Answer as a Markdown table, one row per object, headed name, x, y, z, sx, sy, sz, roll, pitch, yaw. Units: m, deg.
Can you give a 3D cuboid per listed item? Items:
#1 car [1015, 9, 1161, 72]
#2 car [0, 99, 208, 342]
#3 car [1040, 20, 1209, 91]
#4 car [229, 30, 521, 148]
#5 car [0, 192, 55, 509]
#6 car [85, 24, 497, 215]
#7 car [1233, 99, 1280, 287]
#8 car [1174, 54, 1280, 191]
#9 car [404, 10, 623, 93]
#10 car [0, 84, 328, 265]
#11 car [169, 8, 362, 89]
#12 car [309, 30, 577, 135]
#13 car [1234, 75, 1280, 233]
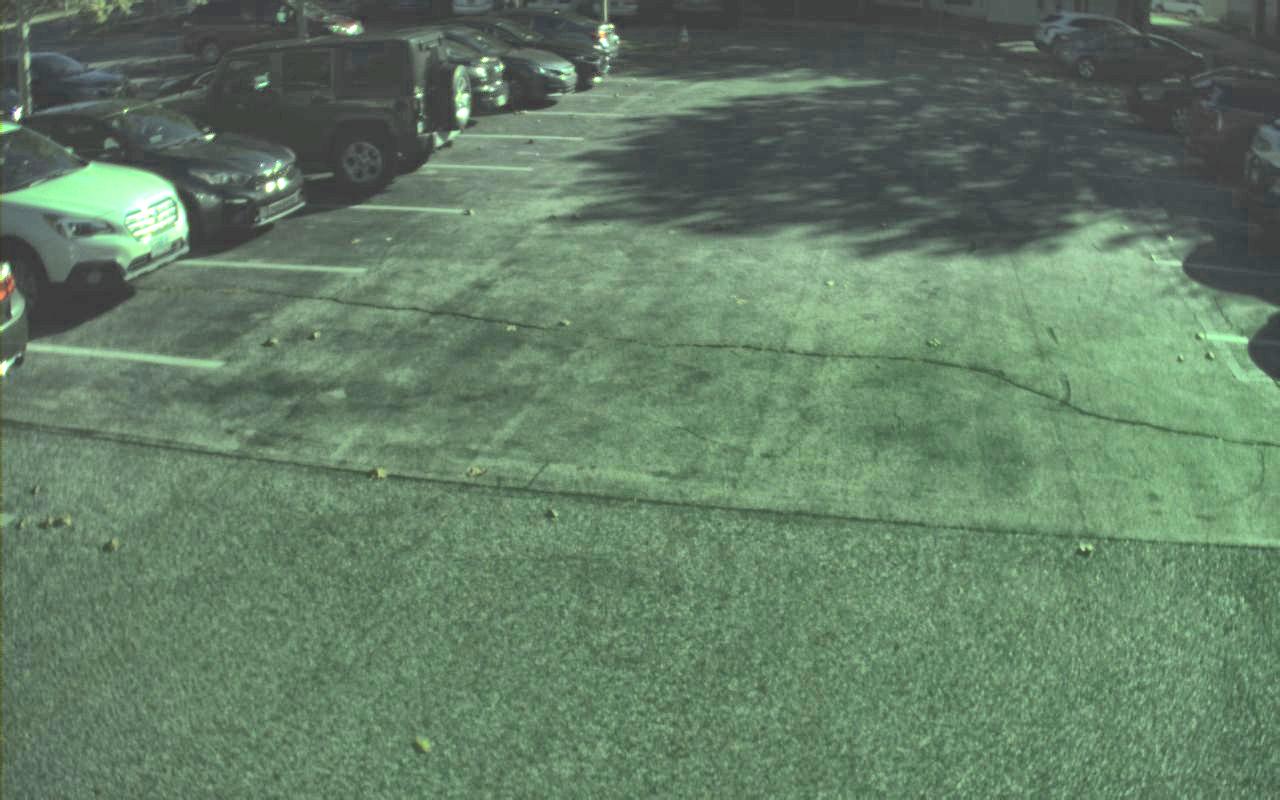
| name | x | y | z | sx | sy | sz | roll | pitch | yaw |
| --- | --- | --- | --- | --- | --- | --- | --- | --- | --- |
| car | 13.972 | -11.169 | 36.254 | 4.465 | 1.660 | 1.976 | 1 | 16 | 8 |
| car | -6.381 | -1.646 | 10.101 | 4.607 | 1.692 | 2.006 | 3 | 17 | 13 |
| car | 13.236 | -9.390 | 31.531 | 4.593 | 1.620 | 1.982 | 2 | 17 | 11 |
| car | -4.331 | -5.039 | 19.653 | 4.373 | 1.628 | 1.976 | 3 | 17 | 14 |
| car | -6.538 | -0.482 | 7.371 | 4.549 | 1.547 | 1.962 | 4 | 17 | 15 |
| car | -4.381 | -3.474 | 14.795 | 4.824 | 1.999 | 2.110 | 2 | 16 | 10 |
| car | 8.938 | -2.348 | 12.007 | 4.390 | 1.590 | 1.961 | 4 | 17 | 17 |
| car | 10.496 | -4.284 | 16.888 | 4.471 | 1.635 | 1.969 | 3 | 17 | 14 |
| car | -2.759 | -7.644 | 26.894 | 4.445 | 1.620 | 1.965 | 2 | 17 | 10 |
| car | -5.688 | -2.396 | 12.475 | 4.337 | 1.564 | 1.929 | 3 | 17 | 13 |
| car | -9.838 | -9.127 | 30.746 | 4.797 | 1.708 | 2.040 | 3 | 17 | 12 |
| car | -3.525 | -5.711 | 21.928 | 4.467 | 1.621 | 1.945 | 2 | 16 | 9 |
| car | 10.174 | -3.289 | 14.280 | 4.345 | 1.626 | 1.949 | 4 | 17 | 15 |
